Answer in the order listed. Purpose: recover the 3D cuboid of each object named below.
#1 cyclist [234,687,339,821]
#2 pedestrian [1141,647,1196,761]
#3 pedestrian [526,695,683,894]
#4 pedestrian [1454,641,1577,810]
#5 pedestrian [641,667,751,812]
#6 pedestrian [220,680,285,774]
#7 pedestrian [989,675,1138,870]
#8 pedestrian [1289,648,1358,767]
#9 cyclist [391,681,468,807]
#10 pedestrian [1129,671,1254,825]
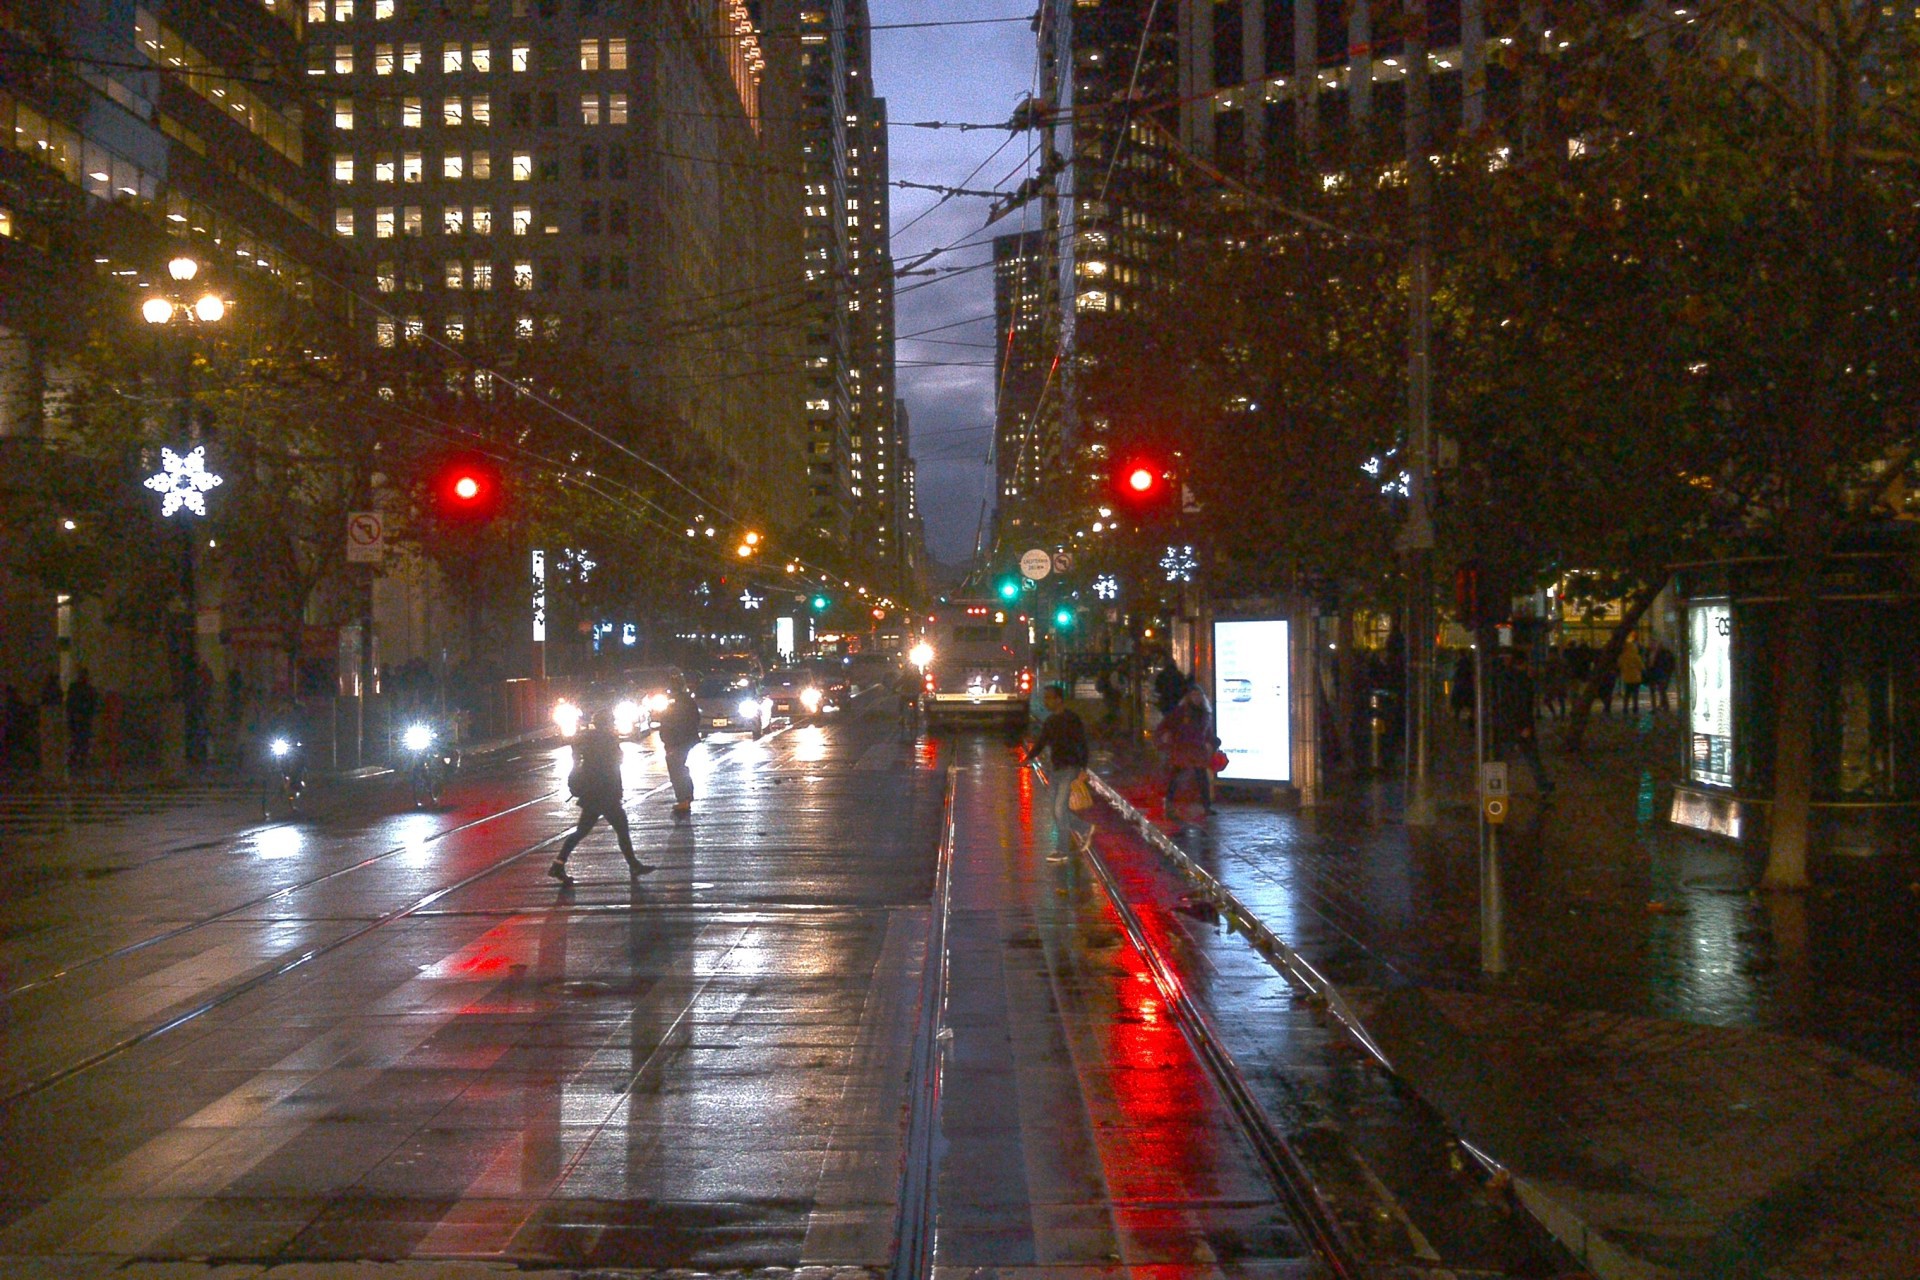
[{"bbox_3d":[-8.960,1.491,27.321,0.761,1.680,1.785,0,0,2],"label":"cyclist"},{"bbox_3d":[3.543,1.066,34.725,0.780,1.890,1.221,0,0,14],"label":"pedestrian"},{"bbox_3d":[-3.183,1.341,18.296,1.052,1.670,1.131,0,0,-30],"label":"pedestrian"},{"bbox_3d":[6.589,0.990,24.276,1.202,1.940,0.925,0,0,-45],"label":"pedestrian"},{"bbox_3d":[-3.378,1.246,26.167,0.852,1.780,1.177,0,0,-45],"label":"pedestrian"},{"bbox_3d":[-12.457,1.519,36.082,1.000,1.630,0.740,0,0,-13],"label":"pedestrian"},{"bbox_3d":[0.998,1.249,19.780,1.149,1.800,0.870,0,0,-41],"label":"pedestrian"},{"bbox_3d":[5.734,1.051,32.352,0.973,1.850,0.905,0,0,3],"label":"pedestrian"},{"bbox_3d":[-7.397,1.431,28.636,0.731,1.680,1.743,0,0,-4],"label":"cyclist"},{"bbox_3d":[2.672,1.218,23.666,1.006,1.710,1.061,0,0,-28],"label":"pedestrian"}]
